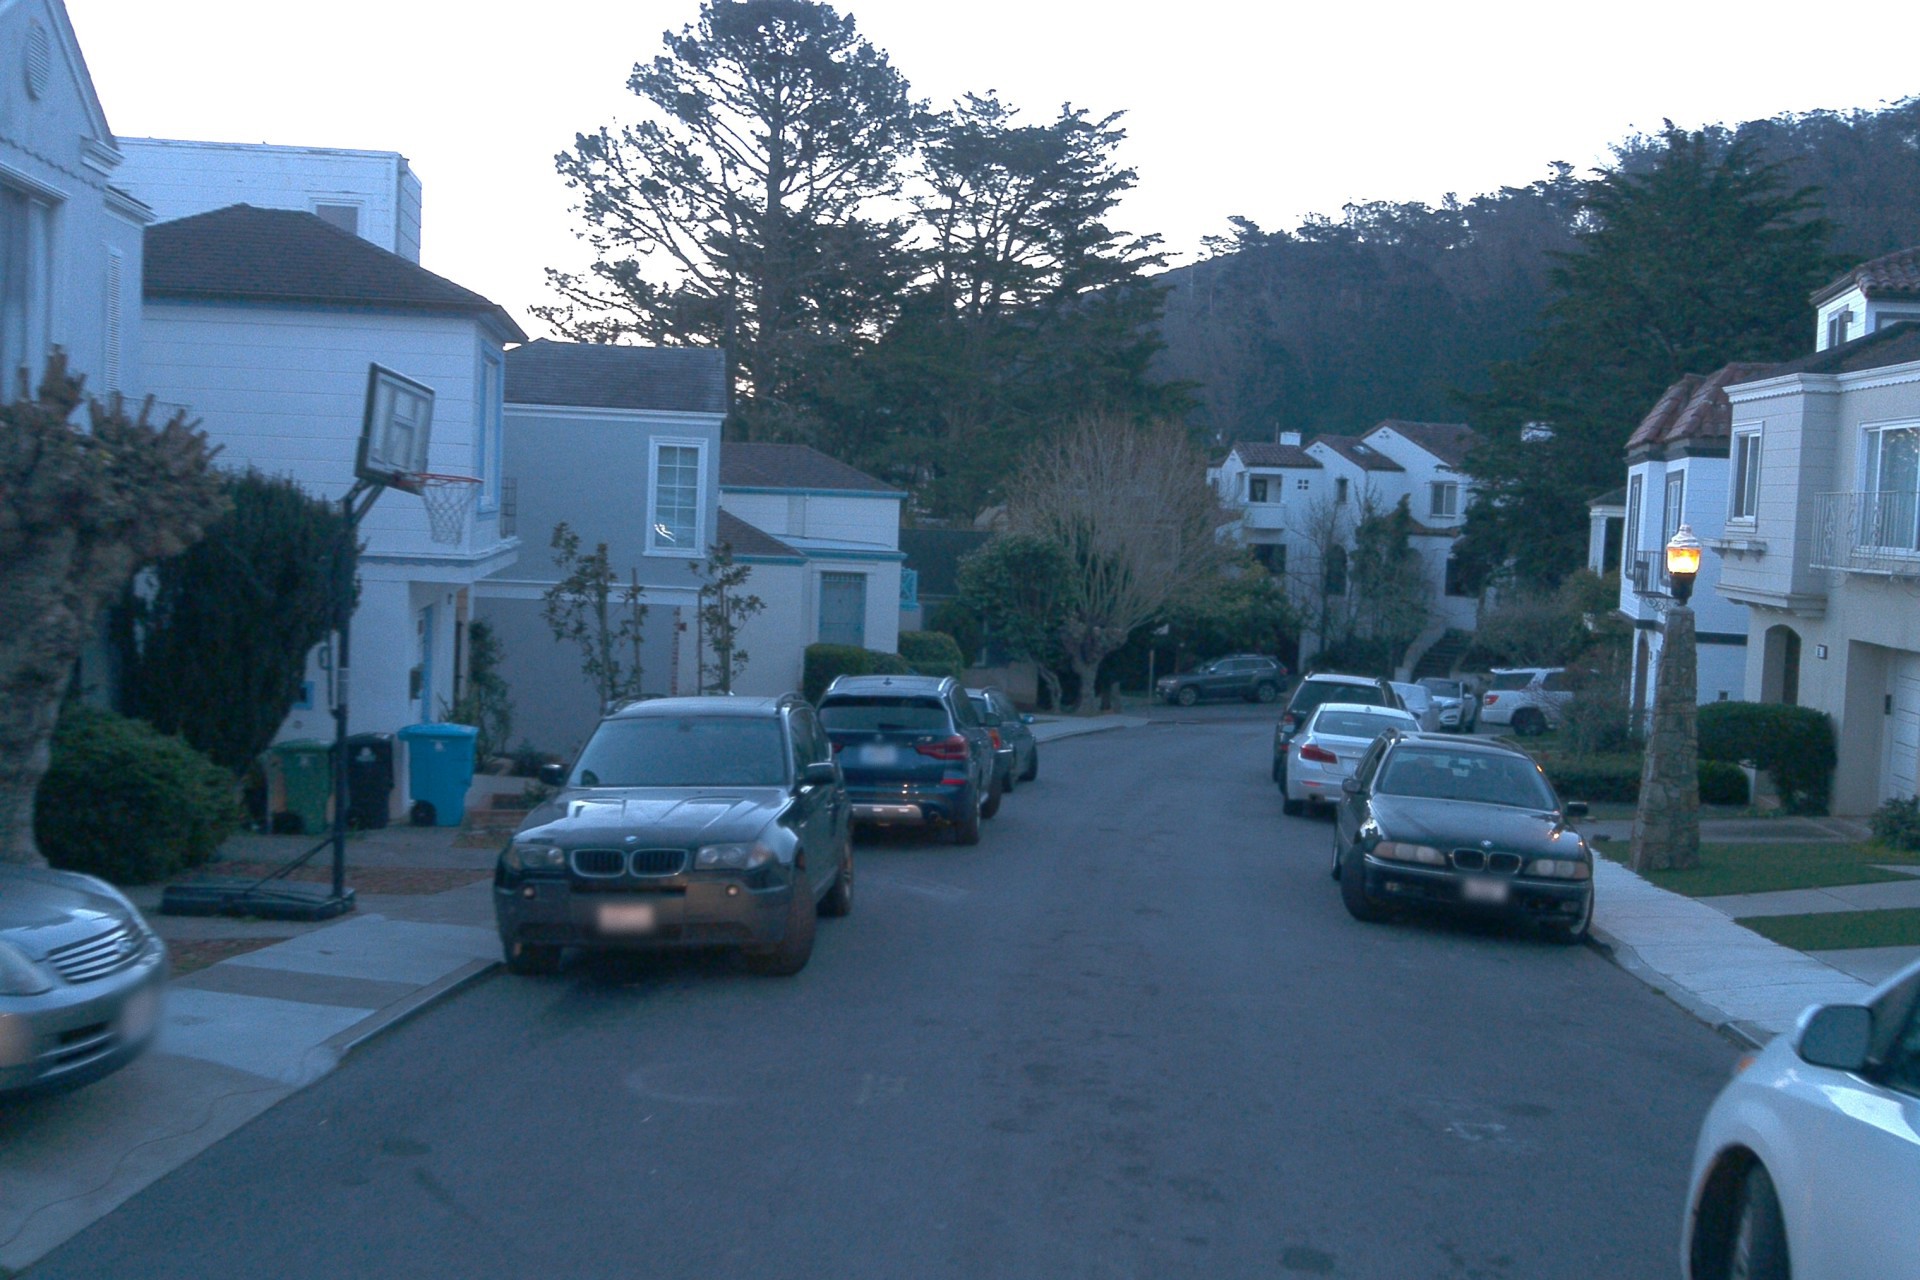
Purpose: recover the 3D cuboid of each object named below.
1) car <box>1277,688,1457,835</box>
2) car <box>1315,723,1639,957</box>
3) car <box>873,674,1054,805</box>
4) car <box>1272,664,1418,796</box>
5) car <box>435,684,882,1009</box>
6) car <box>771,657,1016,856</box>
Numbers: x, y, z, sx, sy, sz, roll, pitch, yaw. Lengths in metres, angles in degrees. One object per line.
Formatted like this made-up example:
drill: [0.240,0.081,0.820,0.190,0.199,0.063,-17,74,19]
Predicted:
car: [5.280,1.500,27.161,2.107,1.660,4.901,0,0,10]
car: [4.209,1.561,17.662,2.124,1.520,4.901,0,0,7]
car: [0.137,1.316,28.984,1.919,1.640,4.463,0,0,8]
car: [6.275,1.377,33.392,2.081,1.940,4.622,0,0,13]
car: [-1.785,1.200,13.894,2.095,1.740,4.527,0,0,3]
car: [-0.567,1.118,21.975,2.209,1.870,4.684,0,0,3]
